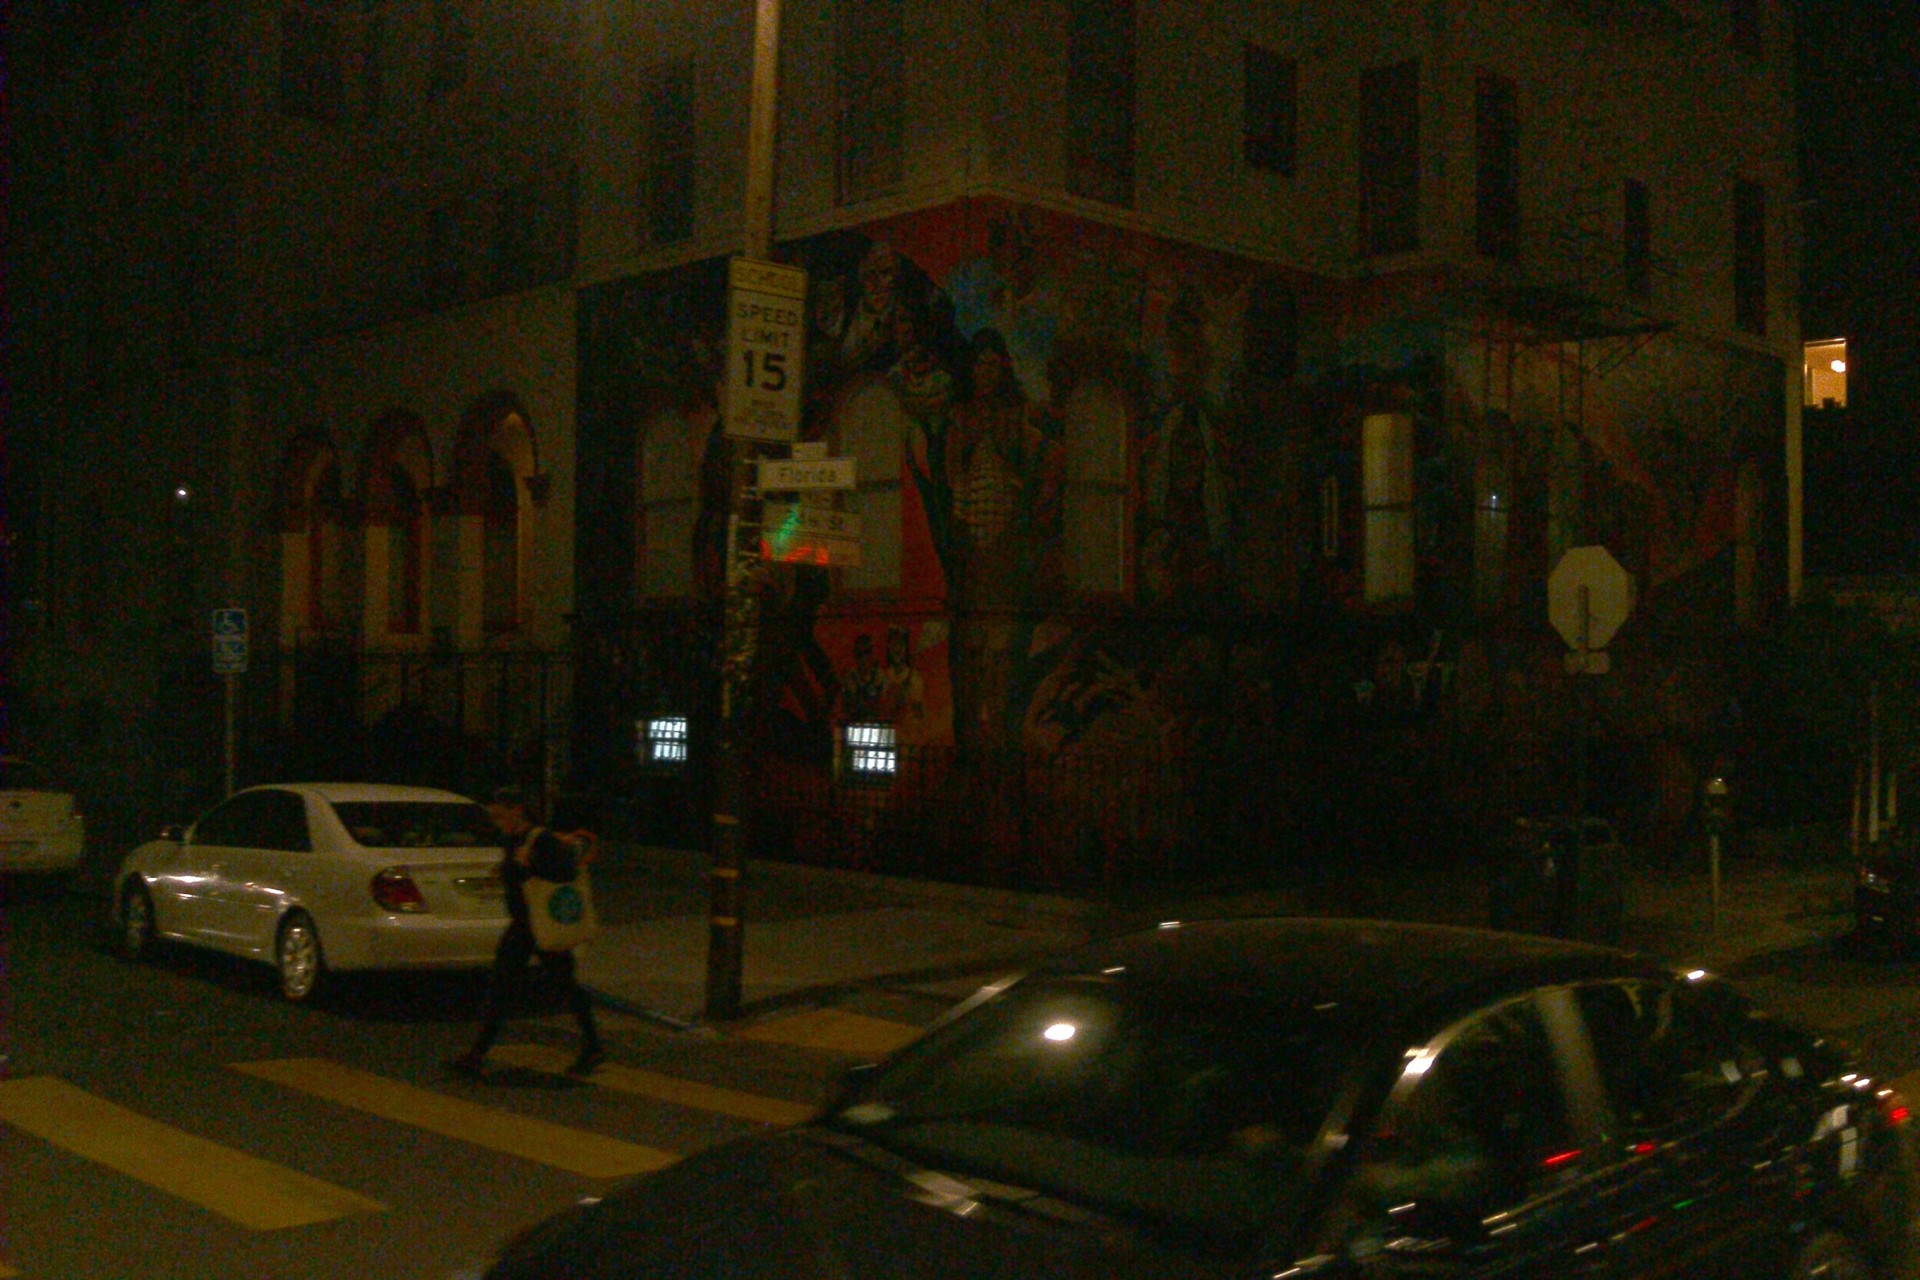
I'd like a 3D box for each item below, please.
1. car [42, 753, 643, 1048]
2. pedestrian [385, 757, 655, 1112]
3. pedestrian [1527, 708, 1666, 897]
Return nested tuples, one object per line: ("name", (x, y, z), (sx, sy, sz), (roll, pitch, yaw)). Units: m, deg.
("car", (-4.700, 1.747, 15.384), (2.249, 1.540, 4.811), (1, 0, -45))
("pedestrian", (-2.456, 1.582, 11.624), (1.001, 1.780, 1.083), (0, 0, 44))
("pedestrian", (6.553, 1.642, 21.415), (1.008, 1.830, 1.025), (0, 0, 43))
